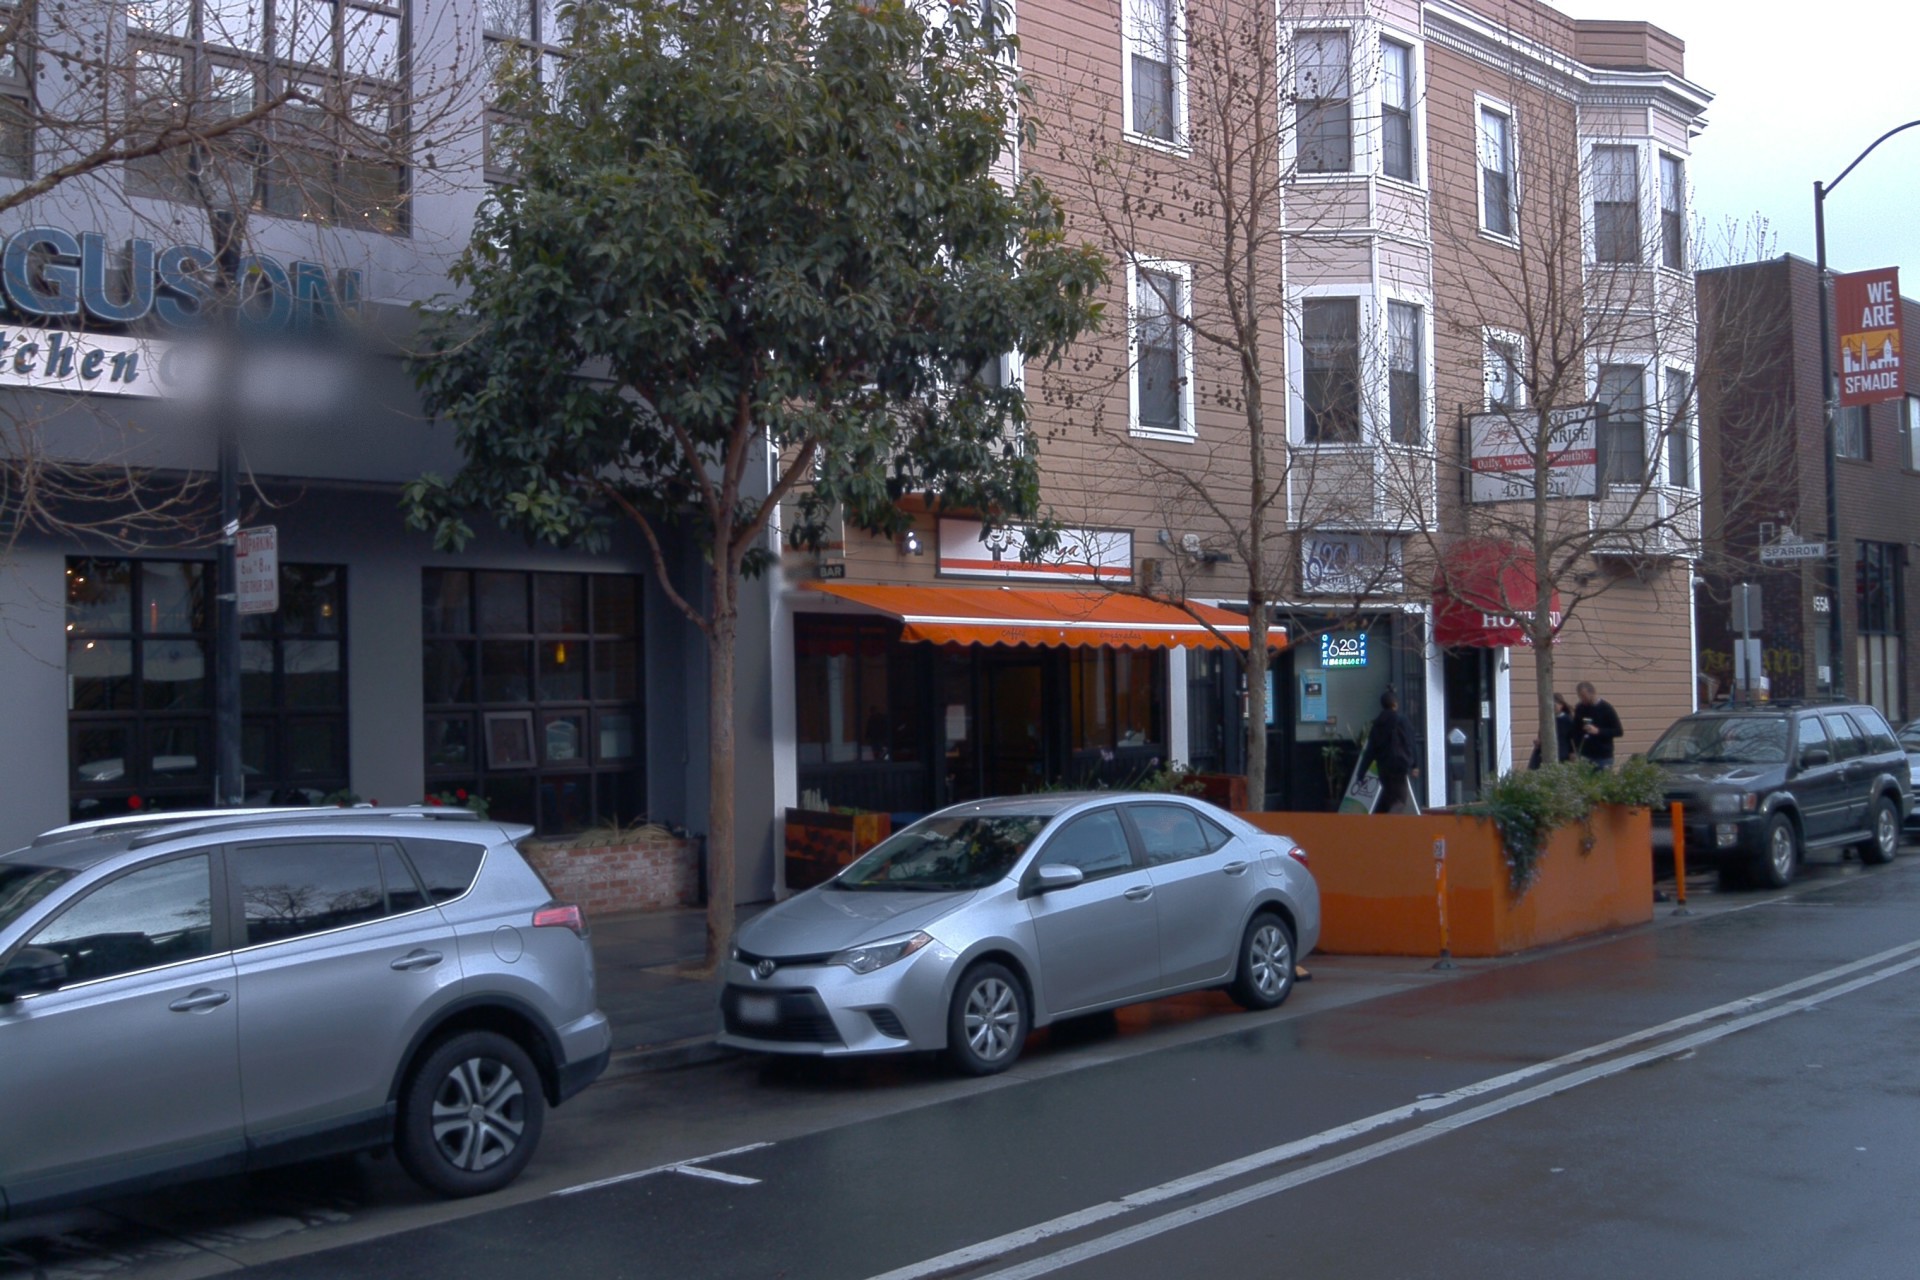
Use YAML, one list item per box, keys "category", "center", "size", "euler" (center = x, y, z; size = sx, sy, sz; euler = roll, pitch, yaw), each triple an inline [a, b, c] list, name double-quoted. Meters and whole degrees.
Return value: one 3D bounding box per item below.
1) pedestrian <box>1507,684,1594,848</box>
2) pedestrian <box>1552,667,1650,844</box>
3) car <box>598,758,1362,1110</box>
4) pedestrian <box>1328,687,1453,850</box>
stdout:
- category: "pedestrian"
  center: [6.907, 1.453, 24.067]
  size: [0.643, 1.841, 0.733]
  euler: [-1, 1, -40]
- category: "pedestrian"
  center: [7.277, 1.288, 23.357]
  size: [0.692, 1.941, 0.813]
  euler: [-1, 1, -43]
- category: "car"
  center: [0.301, 1.599, 12.635]
  size: [2.182, 1.390, 4.603]
  euler: [1, 1, 42]
- category: "pedestrian"
  center: [4.964, 1.454, 23.691]
  size: [0.997, 1.756, 1.181]
  euler: [1, 1, 37]
